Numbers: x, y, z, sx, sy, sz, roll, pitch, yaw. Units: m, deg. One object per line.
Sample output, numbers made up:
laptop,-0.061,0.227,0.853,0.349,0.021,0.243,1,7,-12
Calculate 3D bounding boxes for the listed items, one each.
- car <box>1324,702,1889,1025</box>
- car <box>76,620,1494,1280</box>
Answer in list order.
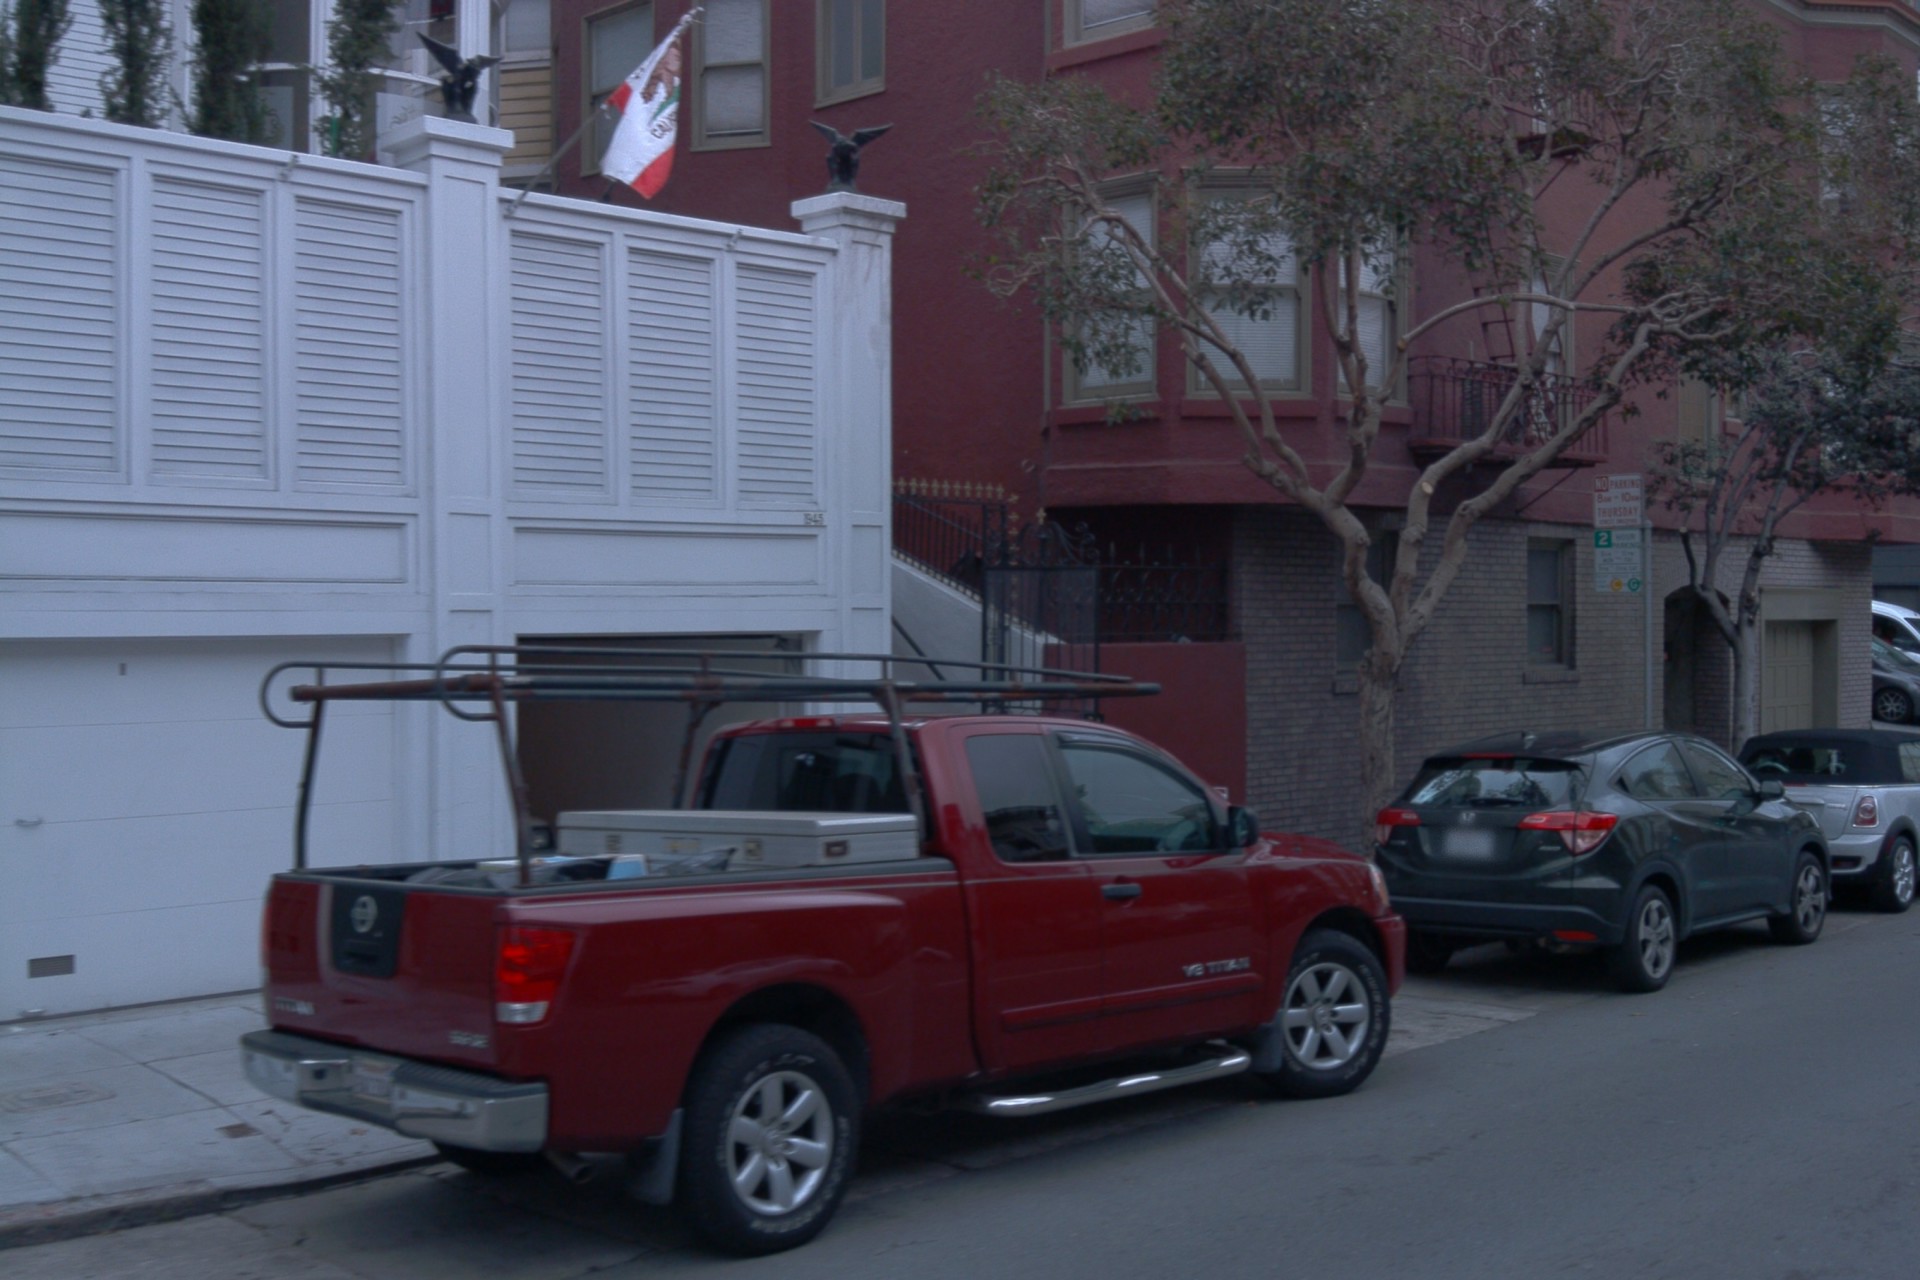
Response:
car,4.538,1.344,13.985,1.866,1.650,4.507,1,1,43
car,-0.346,1.037,8.900,5.910,2.200,2.438,0,1,-45
